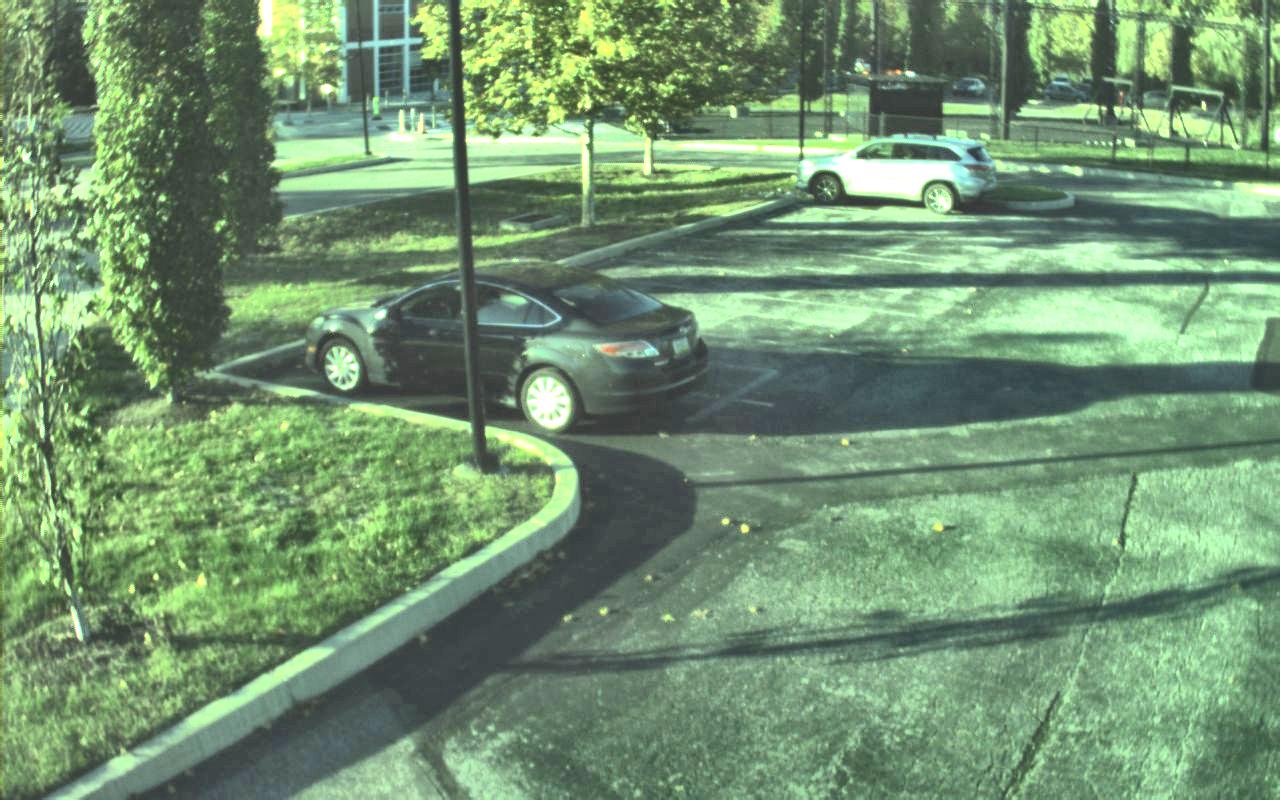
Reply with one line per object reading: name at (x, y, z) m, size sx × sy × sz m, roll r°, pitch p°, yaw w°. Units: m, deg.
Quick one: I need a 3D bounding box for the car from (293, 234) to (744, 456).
car at (-1.388, -0.757, 13.456) m, size 4.572 × 1.572 × 1.966 m, roll 8°, pitch 17°, yaw 29°

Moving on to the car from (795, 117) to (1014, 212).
car at (6.303, -5.642, 29.172) m, size 4.884 × 1.877 × 2.091 m, roll 7°, pitch 17°, yaw 27°
